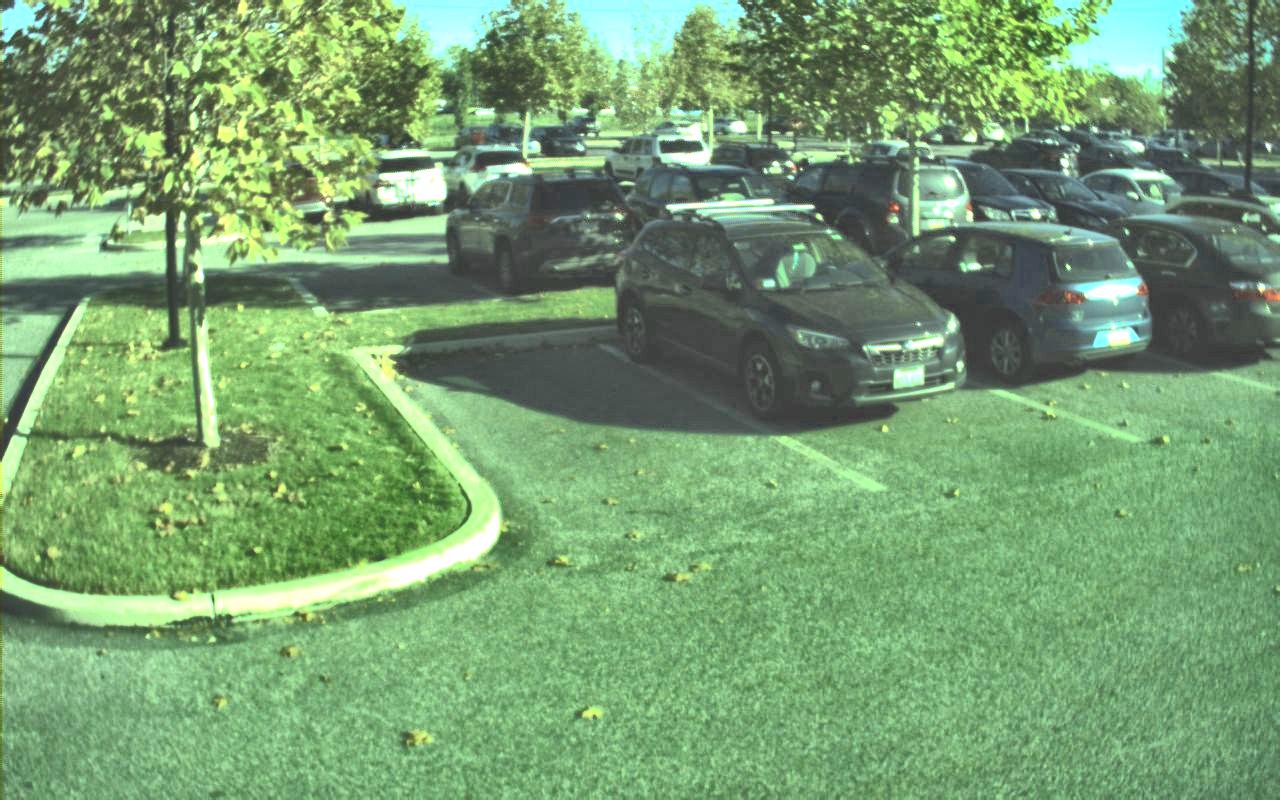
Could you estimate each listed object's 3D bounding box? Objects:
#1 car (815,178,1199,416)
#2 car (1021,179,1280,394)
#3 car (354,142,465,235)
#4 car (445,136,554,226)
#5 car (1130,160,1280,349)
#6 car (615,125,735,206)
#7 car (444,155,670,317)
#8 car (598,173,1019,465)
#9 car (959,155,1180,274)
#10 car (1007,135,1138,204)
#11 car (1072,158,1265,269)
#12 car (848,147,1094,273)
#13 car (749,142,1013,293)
[{"bbox_3d":[3.784,-1.276,13.037,1.880,1.608,4.185,-9,18,-25],"label":"car"},{"bbox_3d":[6.488,-1.493,13.676,1.949,1.560,4.519,-6,17,-16],"label":"car"},{"bbox_3d":[-6.188,-5.653,32.631,2.044,1.820,4.688,-7,18,-20],"label":"car"},{"bbox_3d":[-3.896,-6.004,33.750,2.014,1.821,4.614,-6,17,-17],"label":"car"},{"bbox_3d":[8.823,-2.104,15.324,2.011,1.700,4.596,-6,17,-17],"label":"car"},{"bbox_3d":[0.900,-6.765,35.763,2.041,1.757,4.744,-6,17,-16],"label":"car"},{"bbox_3d":[-1.449,-2.694,19.497,2.012,1.693,4.719,-8,18,-22],"label":"car"},{"bbox_3d":[1.376,-1.026,11.983,1.960,1.703,4.536,-8,18,-23],"label":"car"},{"bbox_3d":[8.338,-3.693,23.434,1.965,1.598,4.463,-8,18,-23],"label":"car"},{"bbox_3d":[14.441,-7.743,39.958,2.008,1.734,4.668,-7,18,-20],"label":"car"},{"bbox_3d":[11.162,-4.005,24.778,1.969,1.626,4.537,-5,17,-13],"label":"car"},{"bbox_3d":[5.938,-3.539,22.196,1.953,1.610,4.435,-11,19,-30],"label":"car"},{"bbox_3d":[3.863,-3.147,20.547,2.033,1.751,4.672,-9,18,-25],"label":"car"}]
